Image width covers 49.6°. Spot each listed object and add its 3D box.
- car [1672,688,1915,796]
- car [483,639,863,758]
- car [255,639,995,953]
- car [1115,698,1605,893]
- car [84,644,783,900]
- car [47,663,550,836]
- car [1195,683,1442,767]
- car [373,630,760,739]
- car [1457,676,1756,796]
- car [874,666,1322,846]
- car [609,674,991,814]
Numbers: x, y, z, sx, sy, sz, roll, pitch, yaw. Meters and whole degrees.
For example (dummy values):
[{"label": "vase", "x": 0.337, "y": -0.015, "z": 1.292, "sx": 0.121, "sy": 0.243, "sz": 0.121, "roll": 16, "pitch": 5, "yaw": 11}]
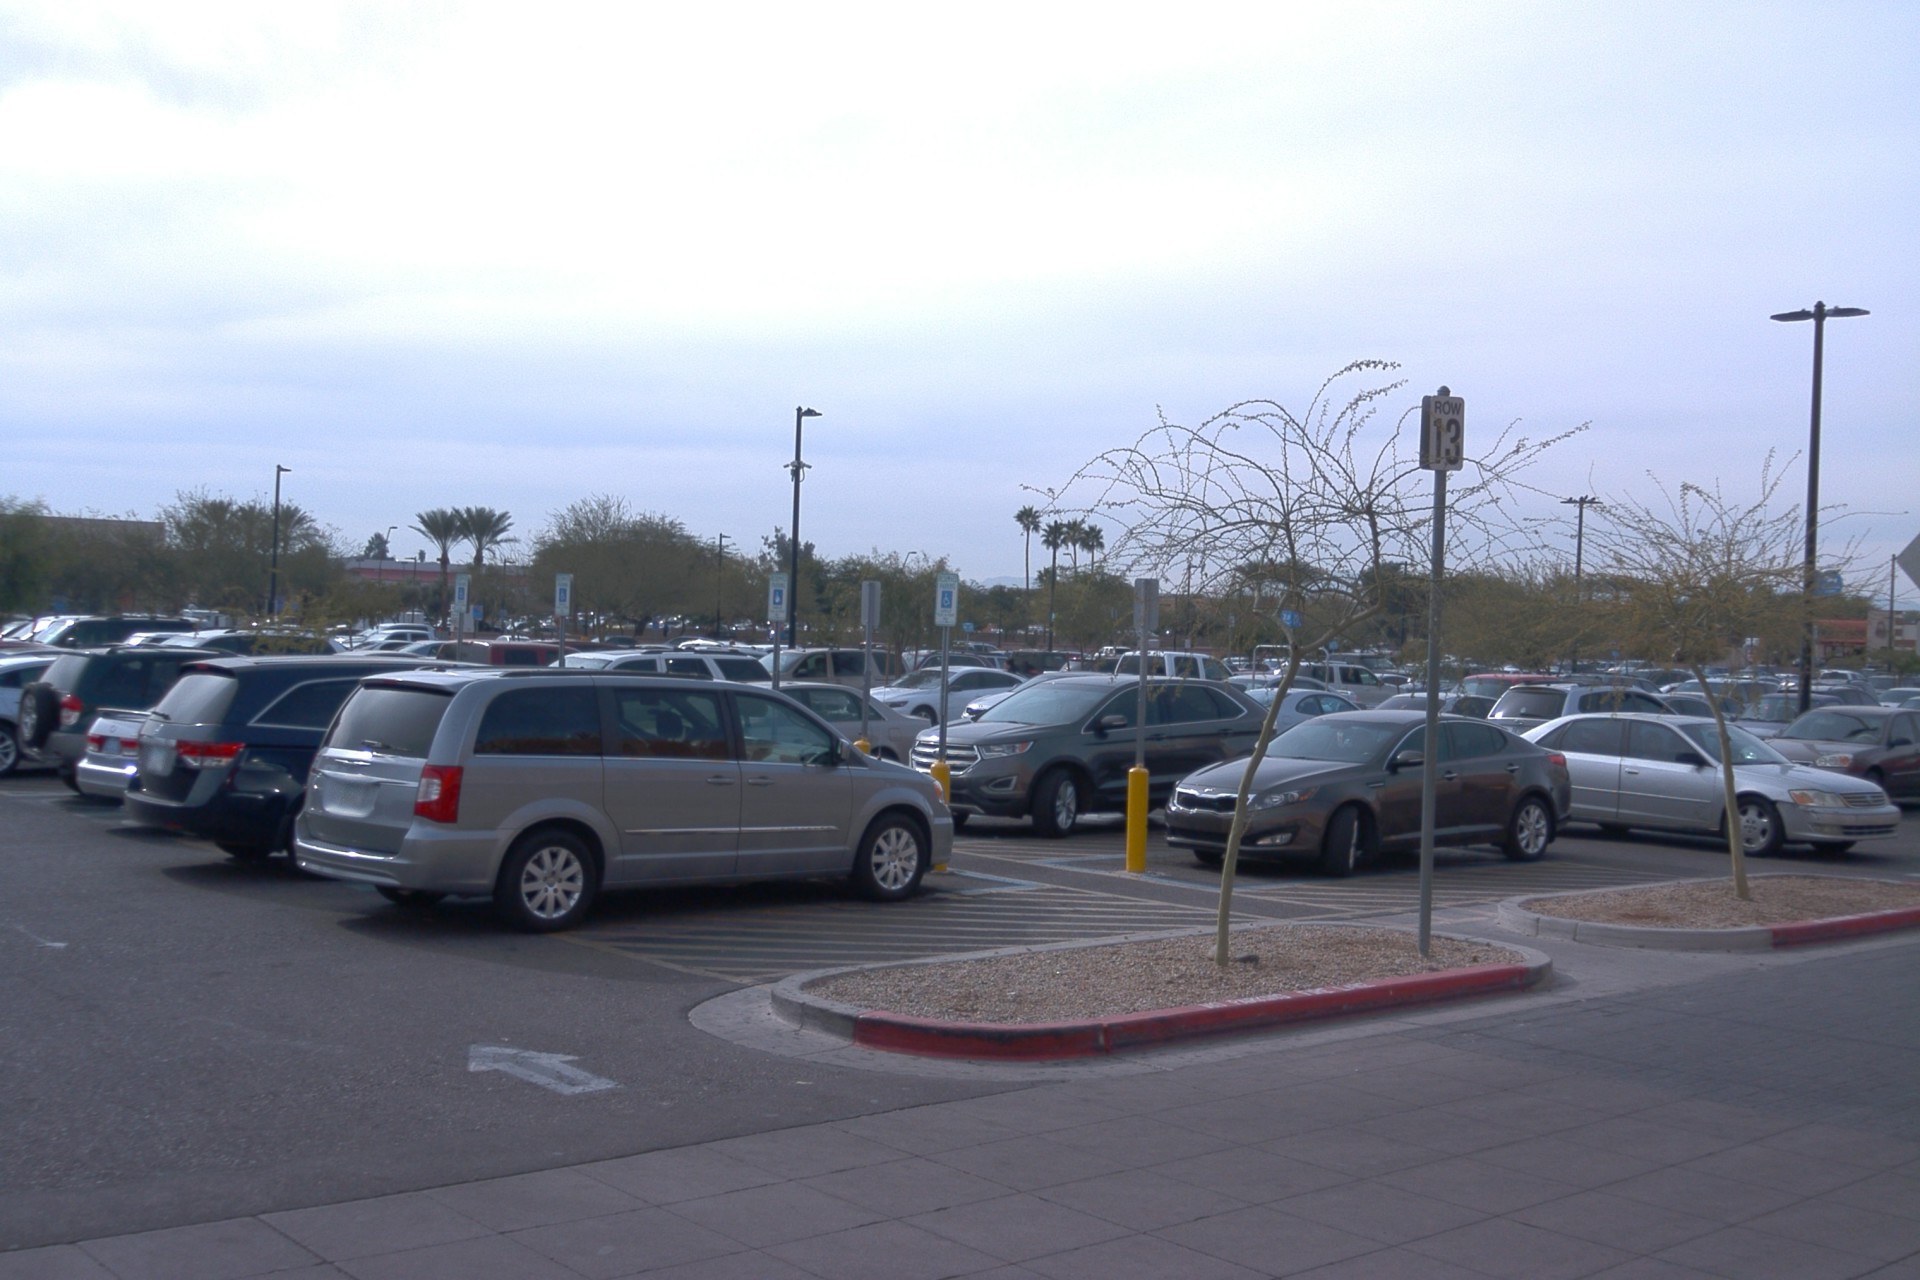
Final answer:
[{"label": "car", "x": 14.295, "y": 1.701, "z": 35.488, "sx": 4.419, "sy": 1.690, "sz": 2.034, "roll": 2, "pitch": -1, "yaw": -41}, {"label": "car", "x": -3.799, "y": 0.779, "z": 28.041, "sx": 4.748, "sy": 1.460, "sz": 2.027, "roll": 2, "pitch": -1, "yaw": -43}, {"label": "car", "x": -2.298, "y": 1.018, "z": 15.361, "sx": 5.067, "sy": 1.930, "sz": 2.133, "roll": 2, "pitch": -1, "yaw": -44}, {"label": "car", "x": 3.970, "y": 1.404, "z": 20.114, "sx": 4.784, "sy": 1.610, "sz": 2.143, "roll": 2, "pitch": -1, "yaw": -41}, {"label": "car", "x": -4.324, "y": 1.019, "z": 17.729, "sx": 5.324, "sy": 1.850, "sz": 2.261, "roll": 2, "pitch": -1, "yaw": -43}, {"label": "car", "x": -6.405, "y": 1.019, "z": 20.406, "sx": 4.279, "sy": 1.500, "sz": 1.896, "roll": 2, "pitch": -1, "yaw": -43}, {"label": "car", "x": 6.289, "y": 1.452, "z": 36.185, "sx": 4.345, "sy": 1.340, "sz": 1.914, "roll": 2, "pitch": -1, "yaw": -41}, {"label": "car", "x": -5.626, "y": 0.645, "z": 30.075, "sx": 5.056, "sy": 1.450, "sz": 2.220, "roll": 2, "pitch": -1, "yaw": -42}, {"label": "car", "x": 9.981, "y": 1.433, "z": 31.871, "sx": 4.752, "sy": 1.660, "sz": 2.105, "roll": 2, "pitch": -1, "yaw": -40}, {"label": "car", "x": 1.602, "y": 1.204, "z": 22.825, "sx": 4.789, "sy": 1.740, "sz": 2.142, "roll": 2, "pitch": -1, "yaw": -42}, {"label": "car", "x": -1.912, "y": 1.243, "z": 25.852, "sx": 2.059, "sy": 1.550, "sz": 4.458, "roll": 0, "pitch": -1, "yaw": 45}]
